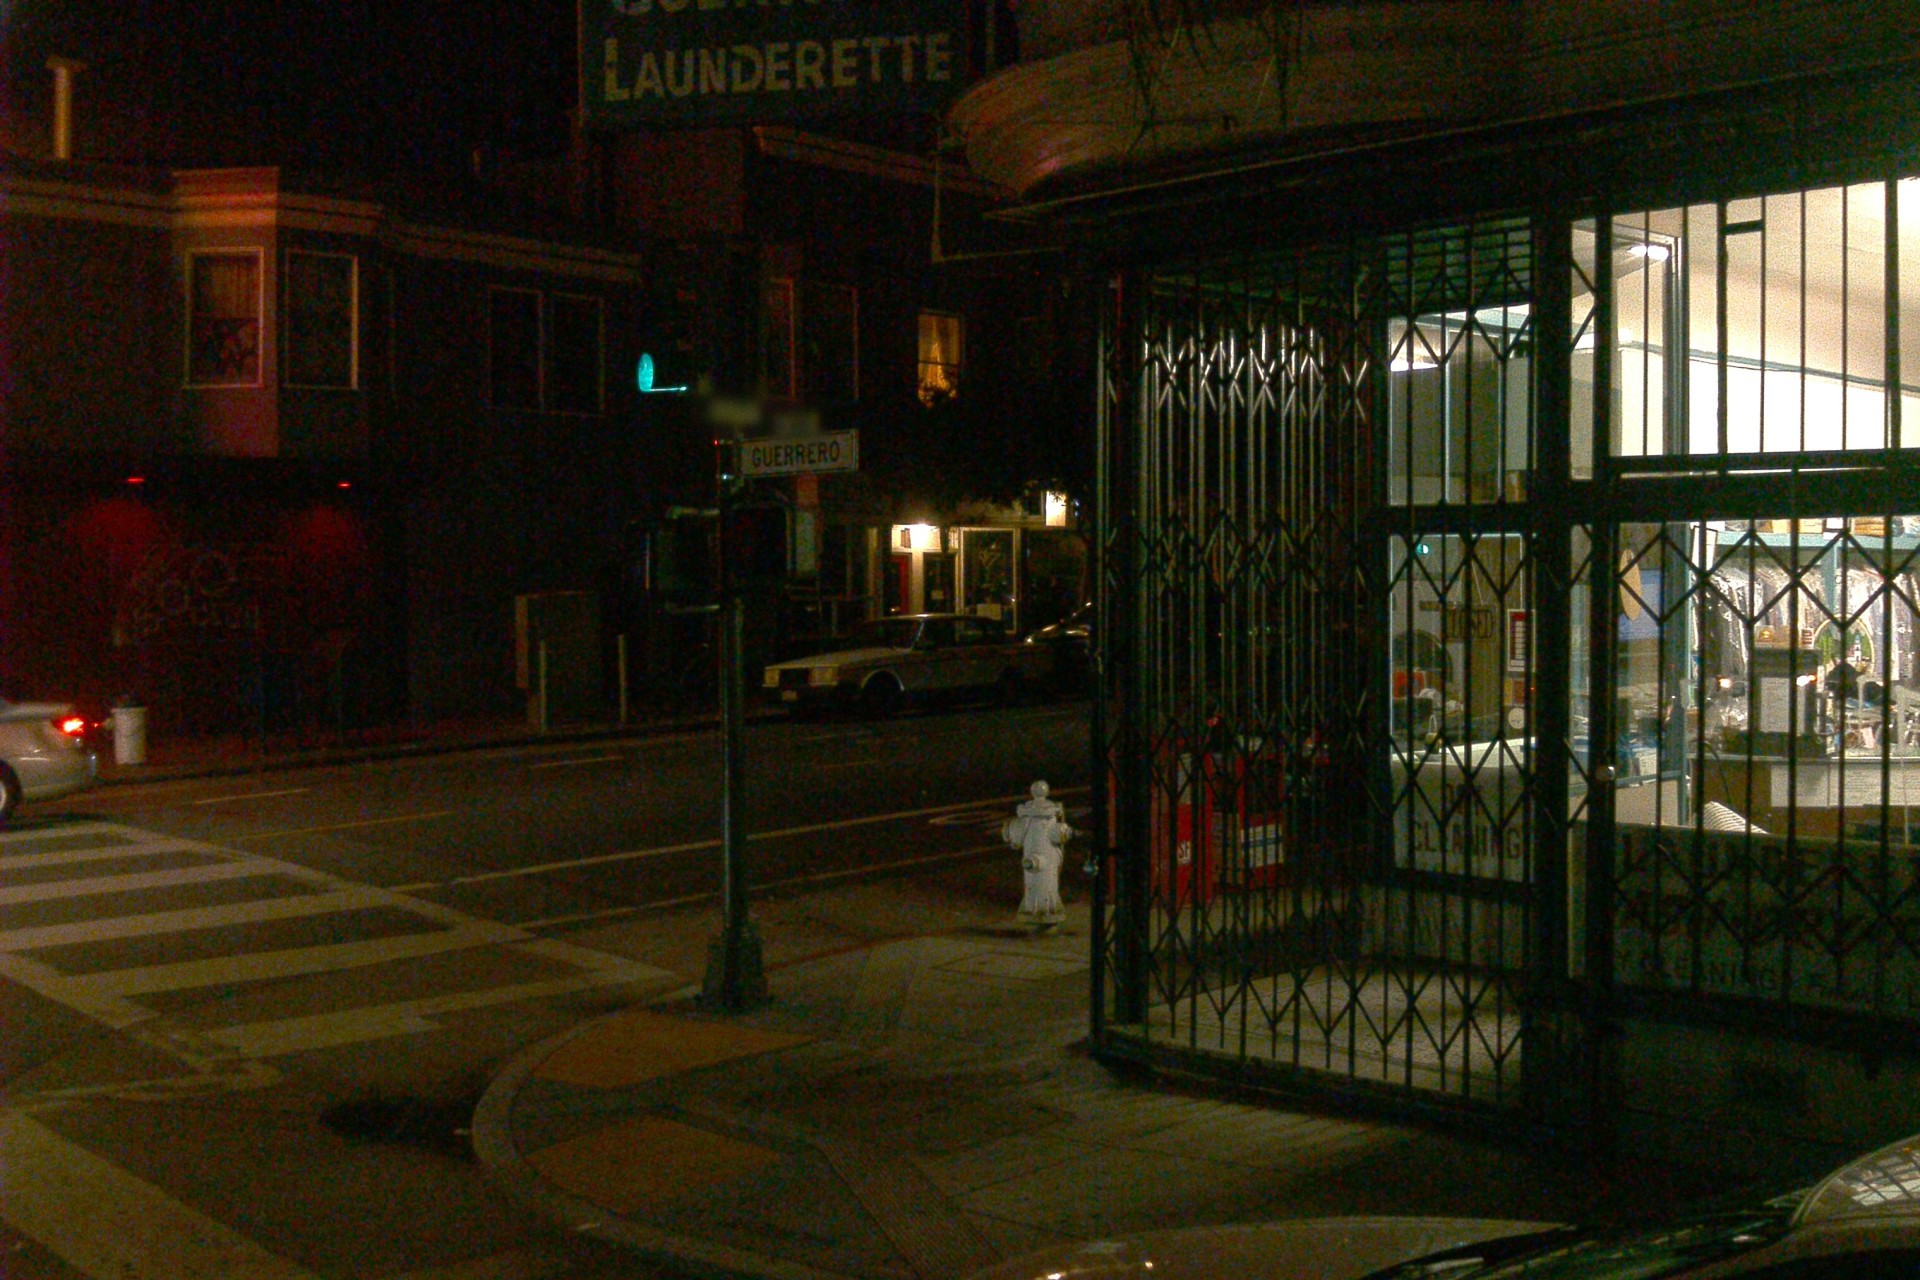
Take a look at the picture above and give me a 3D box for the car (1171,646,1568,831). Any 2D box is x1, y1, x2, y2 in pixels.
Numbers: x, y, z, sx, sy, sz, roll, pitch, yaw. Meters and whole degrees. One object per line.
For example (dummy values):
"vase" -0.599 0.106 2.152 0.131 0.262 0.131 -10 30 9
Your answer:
"car" 3.605 0.790 18.001 3.504 1.420 1.655 1 0 -45

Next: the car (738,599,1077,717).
"car" -0.652 0.254 29.840 1.884 1.550 4.981 1 0 43

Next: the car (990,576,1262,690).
"car" 2.702 -0.085 33.202 1.991 1.690 4.349 1 0 44

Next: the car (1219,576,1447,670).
"car" 6.680 -0.268 37.012 1.924 1.570 4.226 1 0 45
